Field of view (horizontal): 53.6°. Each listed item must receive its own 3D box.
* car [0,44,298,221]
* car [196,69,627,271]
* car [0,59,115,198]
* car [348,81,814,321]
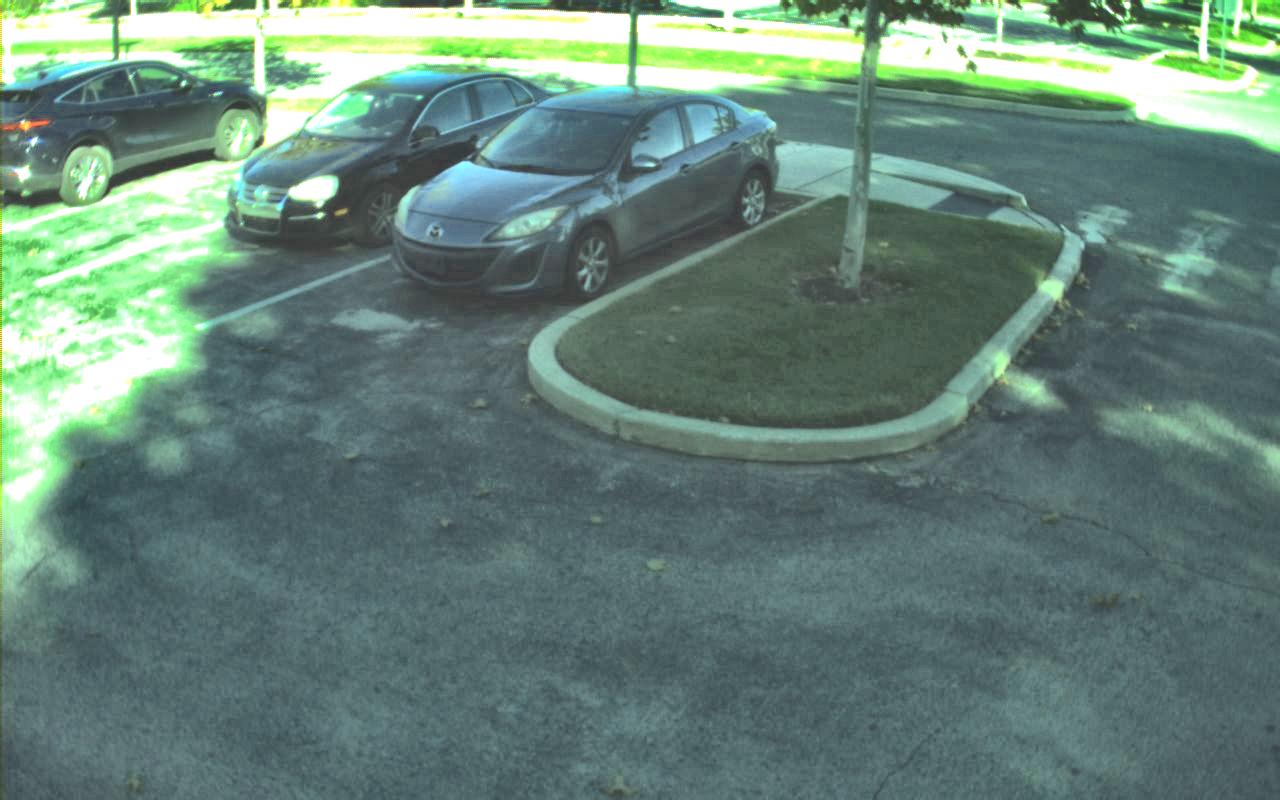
[{"bbox_3d":[-6.743,-3.560,15.036,1.976,1.697,4.653,8,19,28],"label":"car"},{"bbox_3d":[-2.262,-2.562,12.850,1.927,1.531,4.478,11,20,35],"label":"car"},{"bbox_3d":[-11.051,-4.514,18.121,1.945,1.665,4.495,9,19,31],"label":"car"},{"bbox_3d":[-0.297,-1.979,11.117,1.885,1.490,4.421,10,20,33],"label":"car"}]
